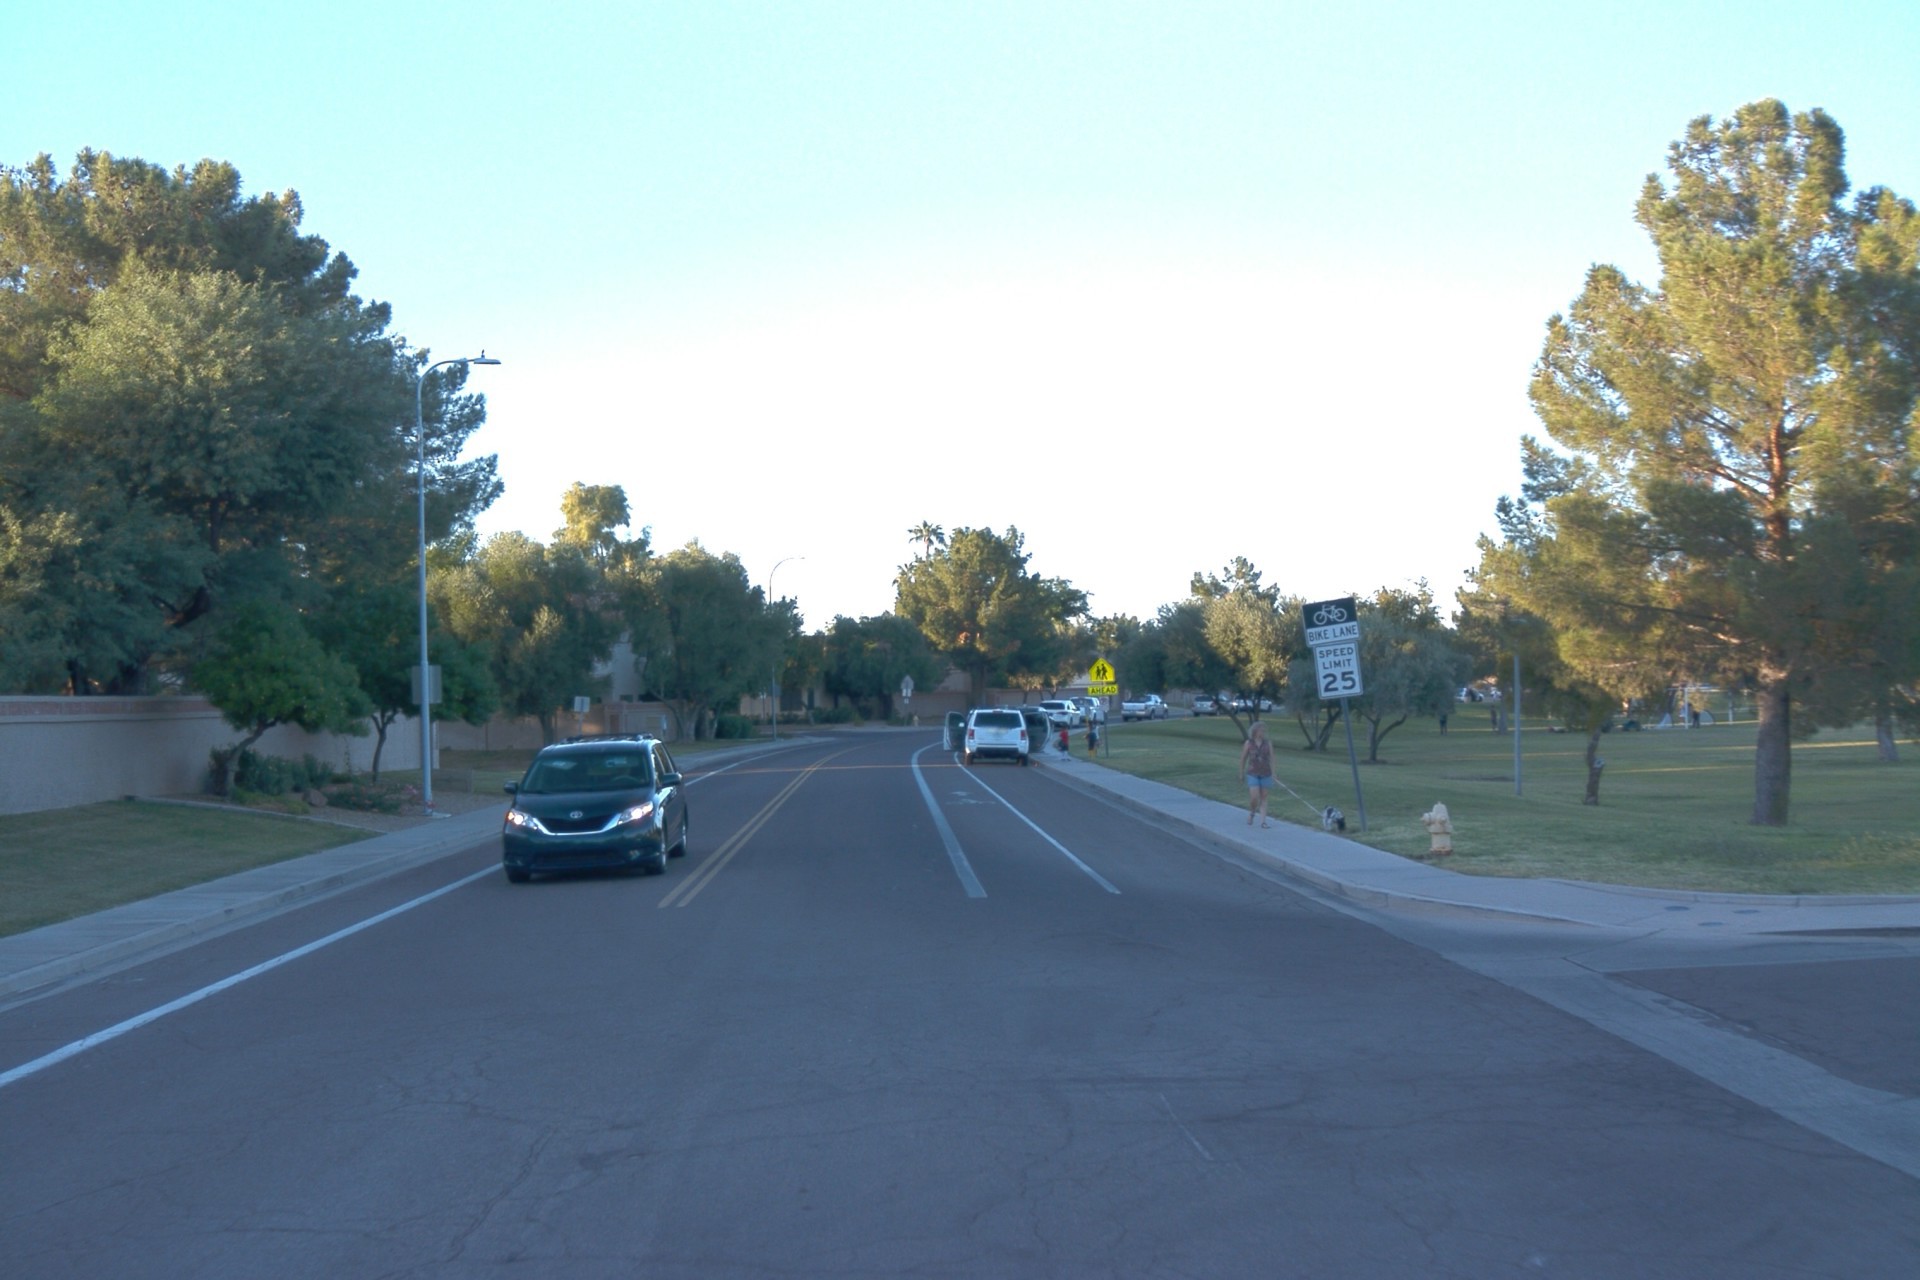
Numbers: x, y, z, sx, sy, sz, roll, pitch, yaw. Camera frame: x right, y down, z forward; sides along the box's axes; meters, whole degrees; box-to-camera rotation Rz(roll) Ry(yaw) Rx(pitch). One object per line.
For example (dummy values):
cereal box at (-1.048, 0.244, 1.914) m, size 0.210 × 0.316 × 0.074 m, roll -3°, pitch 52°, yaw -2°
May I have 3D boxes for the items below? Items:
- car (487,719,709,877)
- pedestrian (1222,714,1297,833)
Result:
car at (-4.763, 2.039, 28.142) m, size 2.293 × 1.840 × 4.995 m, roll 0°, pitch -1°, yaw -2°
pedestrian at (4.503, 1.991, 31.327) m, size 0.986 × 1.750 × 0.878 m, roll 0°, pitch -1°, yaw -1°
